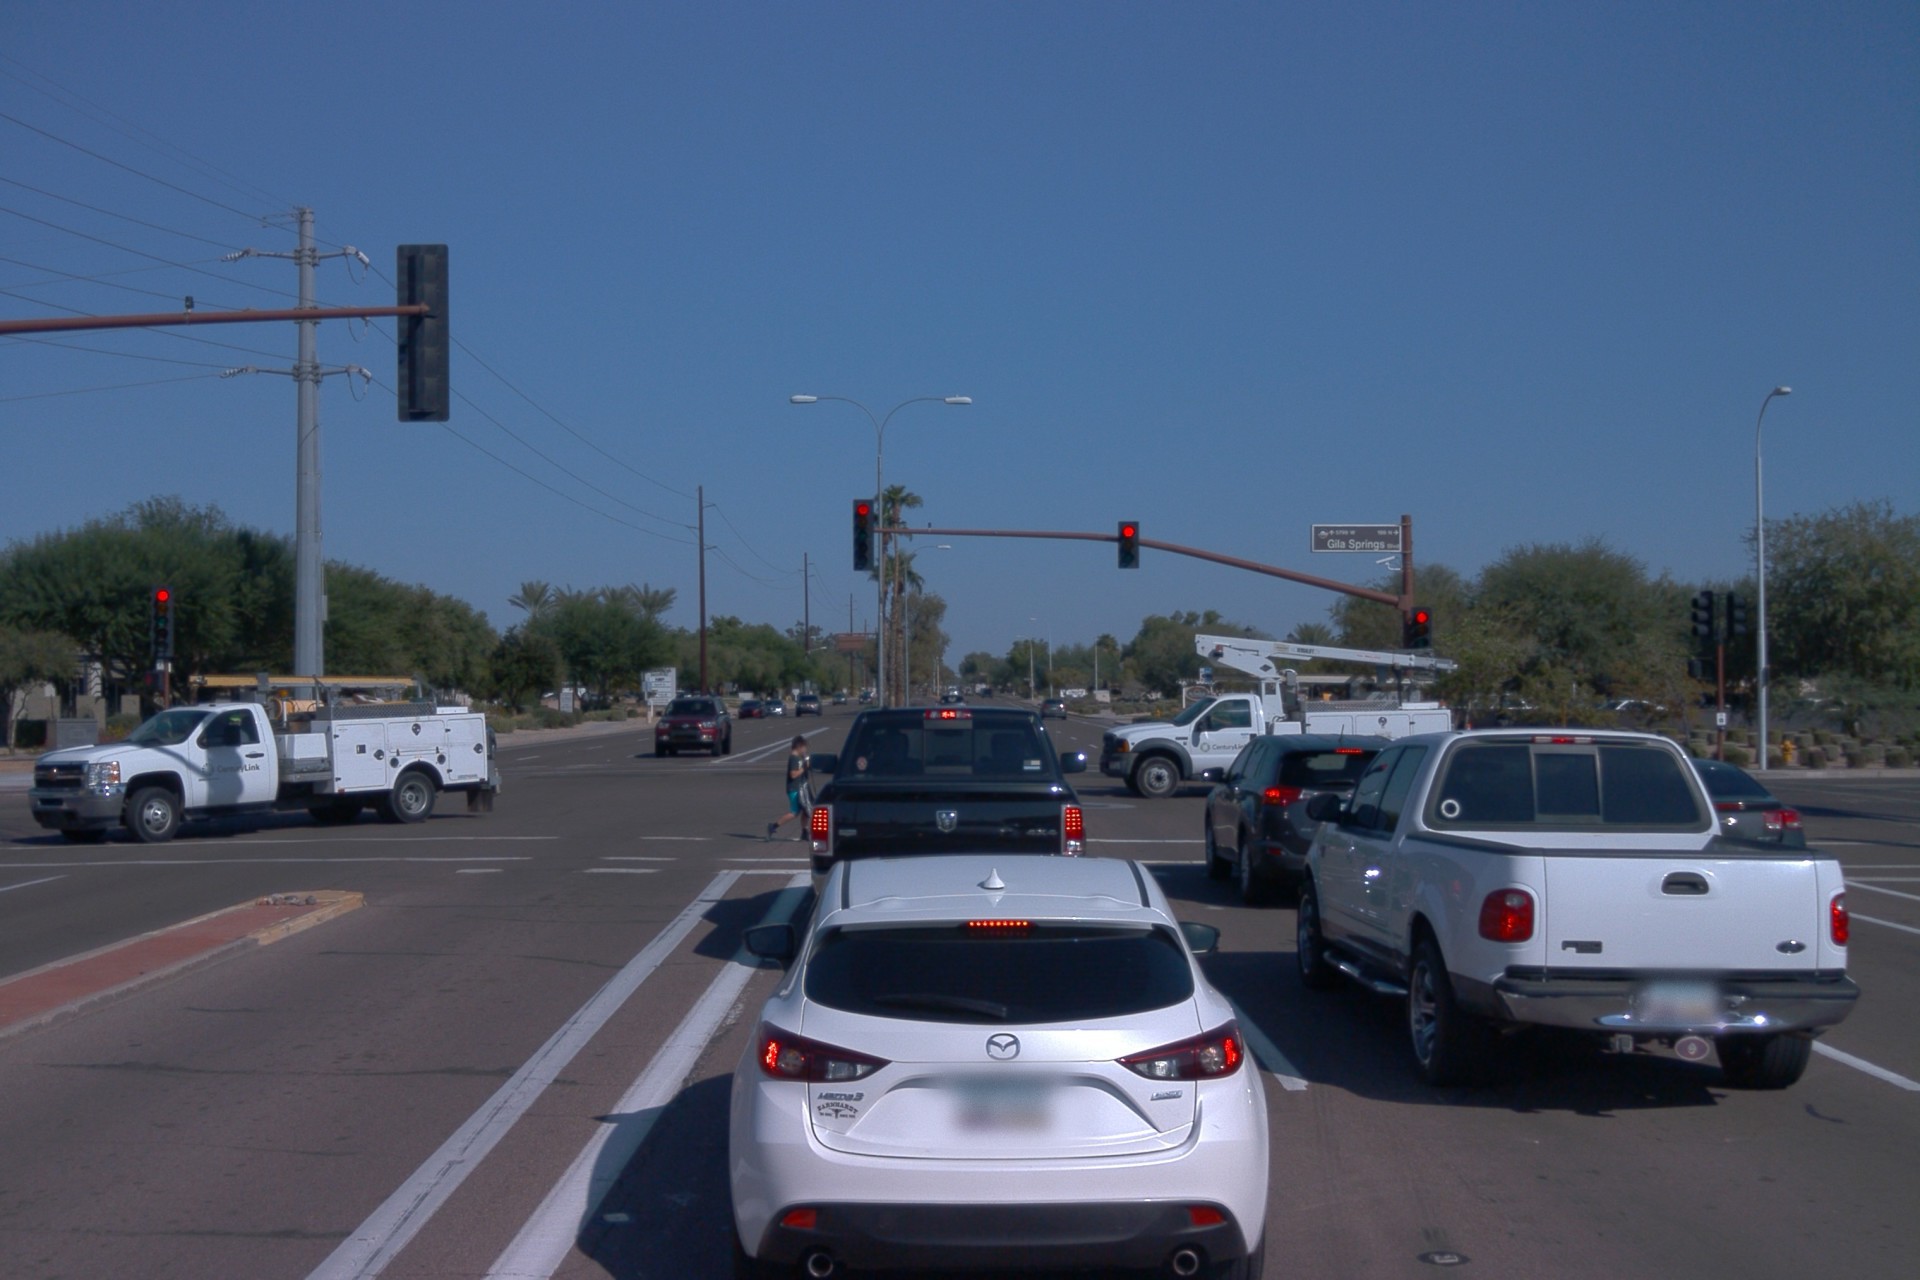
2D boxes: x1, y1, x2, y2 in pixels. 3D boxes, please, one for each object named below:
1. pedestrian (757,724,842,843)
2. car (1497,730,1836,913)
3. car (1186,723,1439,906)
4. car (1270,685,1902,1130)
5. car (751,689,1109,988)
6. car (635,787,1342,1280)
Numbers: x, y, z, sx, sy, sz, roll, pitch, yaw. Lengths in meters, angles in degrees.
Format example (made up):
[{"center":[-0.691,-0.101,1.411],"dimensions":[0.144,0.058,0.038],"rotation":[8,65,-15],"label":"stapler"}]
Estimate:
[{"center":[-2.109,1.885,27.467],"dimensions":[1.087,1.530,0.743],"rotation":[0,-1,-1],"label":"pedestrian"},{"center":[6.818,1.697,20.625],"dimensions":[1.828,1.540,4.447],"rotation":[0,-1,0],"label":"car"},{"center":[3.478,1.689,21.295],"dimensions":[1.789,1.630,4.213],"rotation":[0,-1,-1],"label":"car"},{"center":[3.333,1.321,12.476],"dimensions":[2.073,2.070,5.518],"rotation":[0,-1,-1],"label":"car"},{"center":[-0.134,1.447,17.027],"dimensions":[2.500,2.080,5.001],"rotation":[0,-1,2],"label":"car"},{"center":[0.087,1.506,8.510],"dimensions":[2.099,1.600,4.628],"rotation":[0,-1,0],"label":"car"}]
